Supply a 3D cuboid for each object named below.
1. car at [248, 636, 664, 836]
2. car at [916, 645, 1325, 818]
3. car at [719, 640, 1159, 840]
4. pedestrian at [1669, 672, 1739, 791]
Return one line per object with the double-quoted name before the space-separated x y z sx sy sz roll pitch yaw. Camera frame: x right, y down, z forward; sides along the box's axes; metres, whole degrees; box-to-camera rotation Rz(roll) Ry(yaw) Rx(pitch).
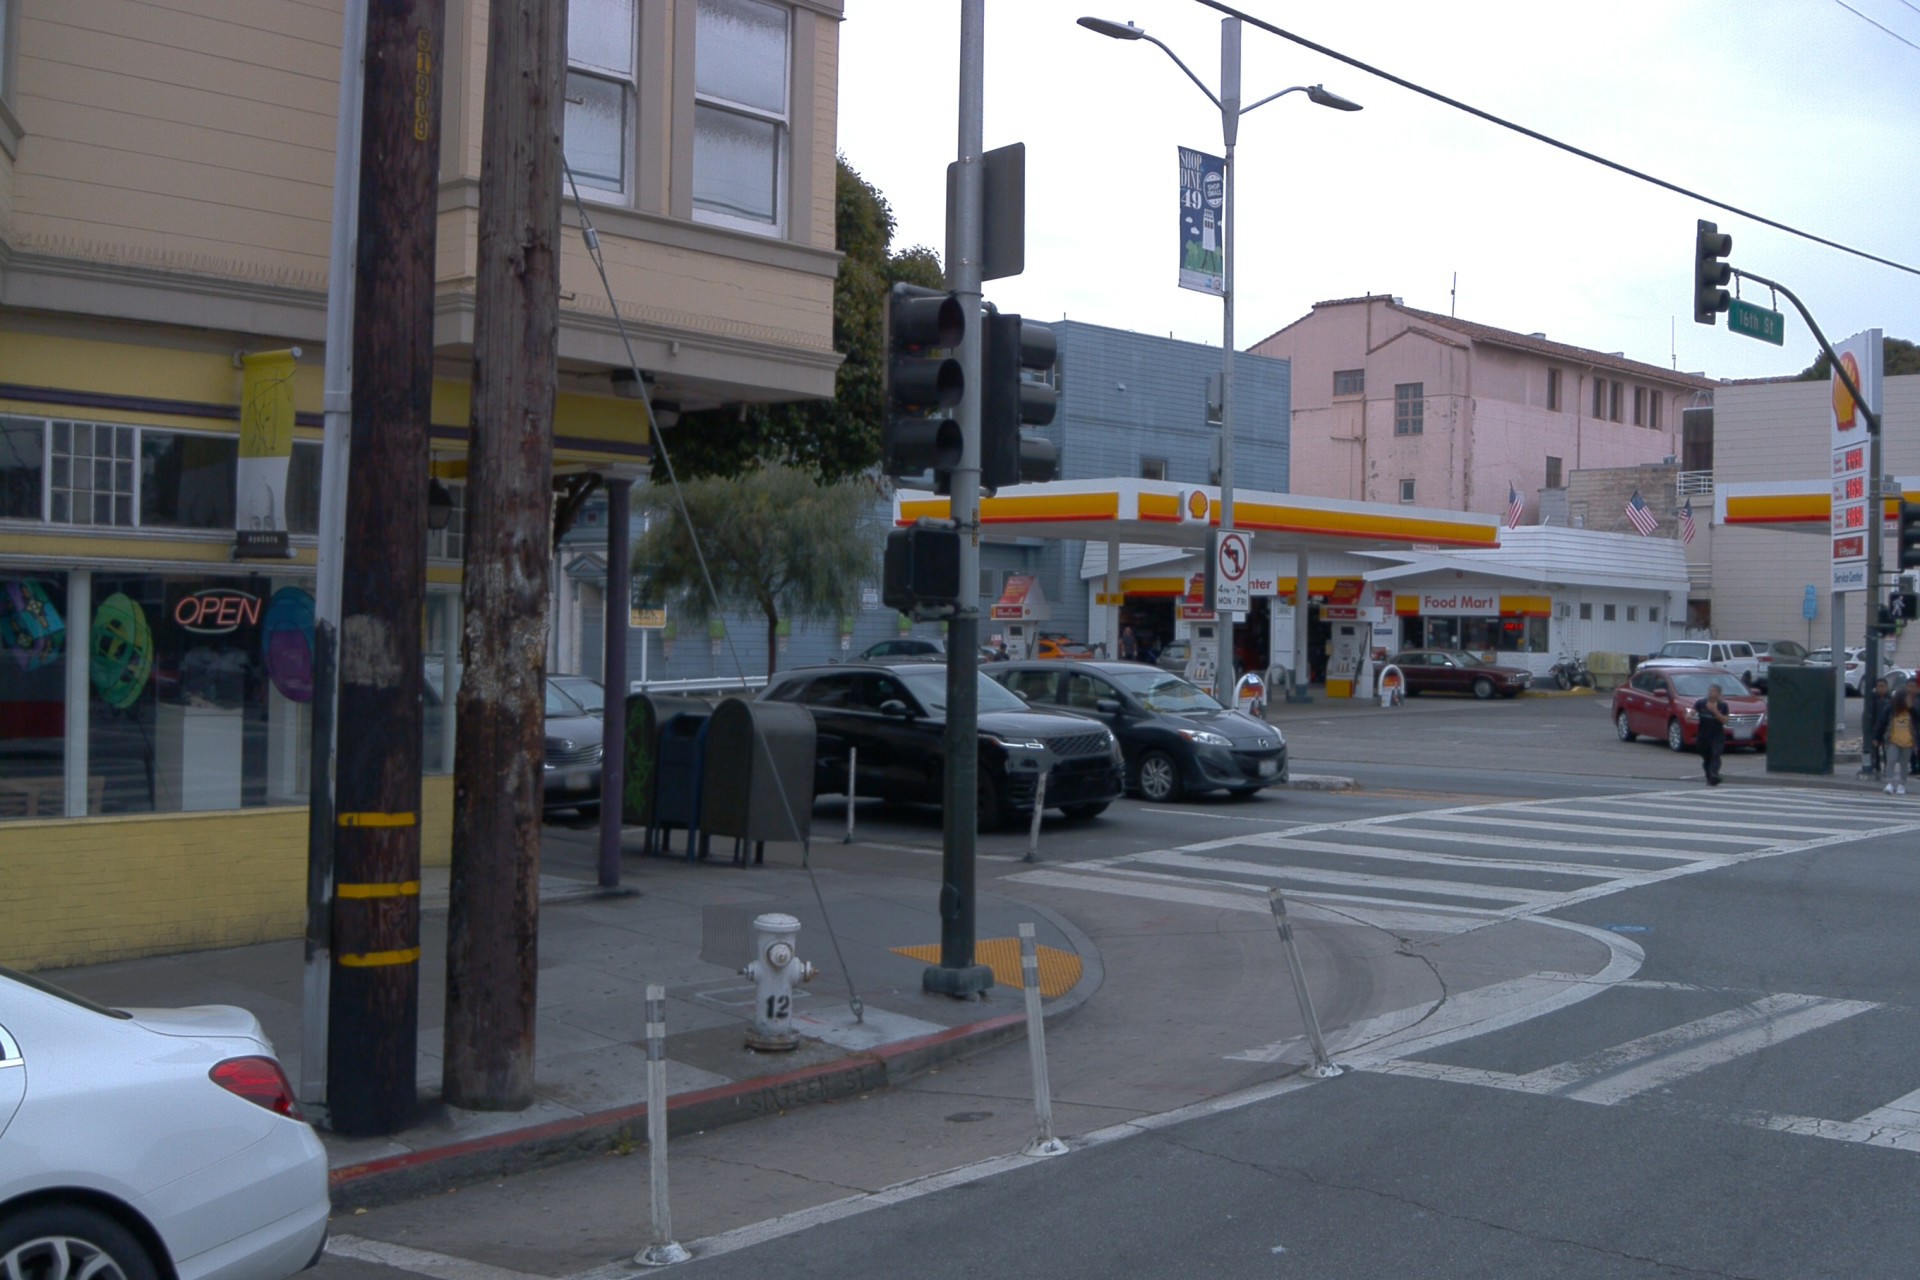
"car" -5.817 0.959 23.414 2.249 1.930 5.134 -1 1 -45
"car" 1.843 1.000 24.854 4.688 1.789 2.067 1 1 45
"car" -0.325 0.963 22.244 2.104 1.830 4.647 -1 1 -45
"pedestrian" 10.543 1.277 29.227 0.836 1.610 1.131 0 1 24
